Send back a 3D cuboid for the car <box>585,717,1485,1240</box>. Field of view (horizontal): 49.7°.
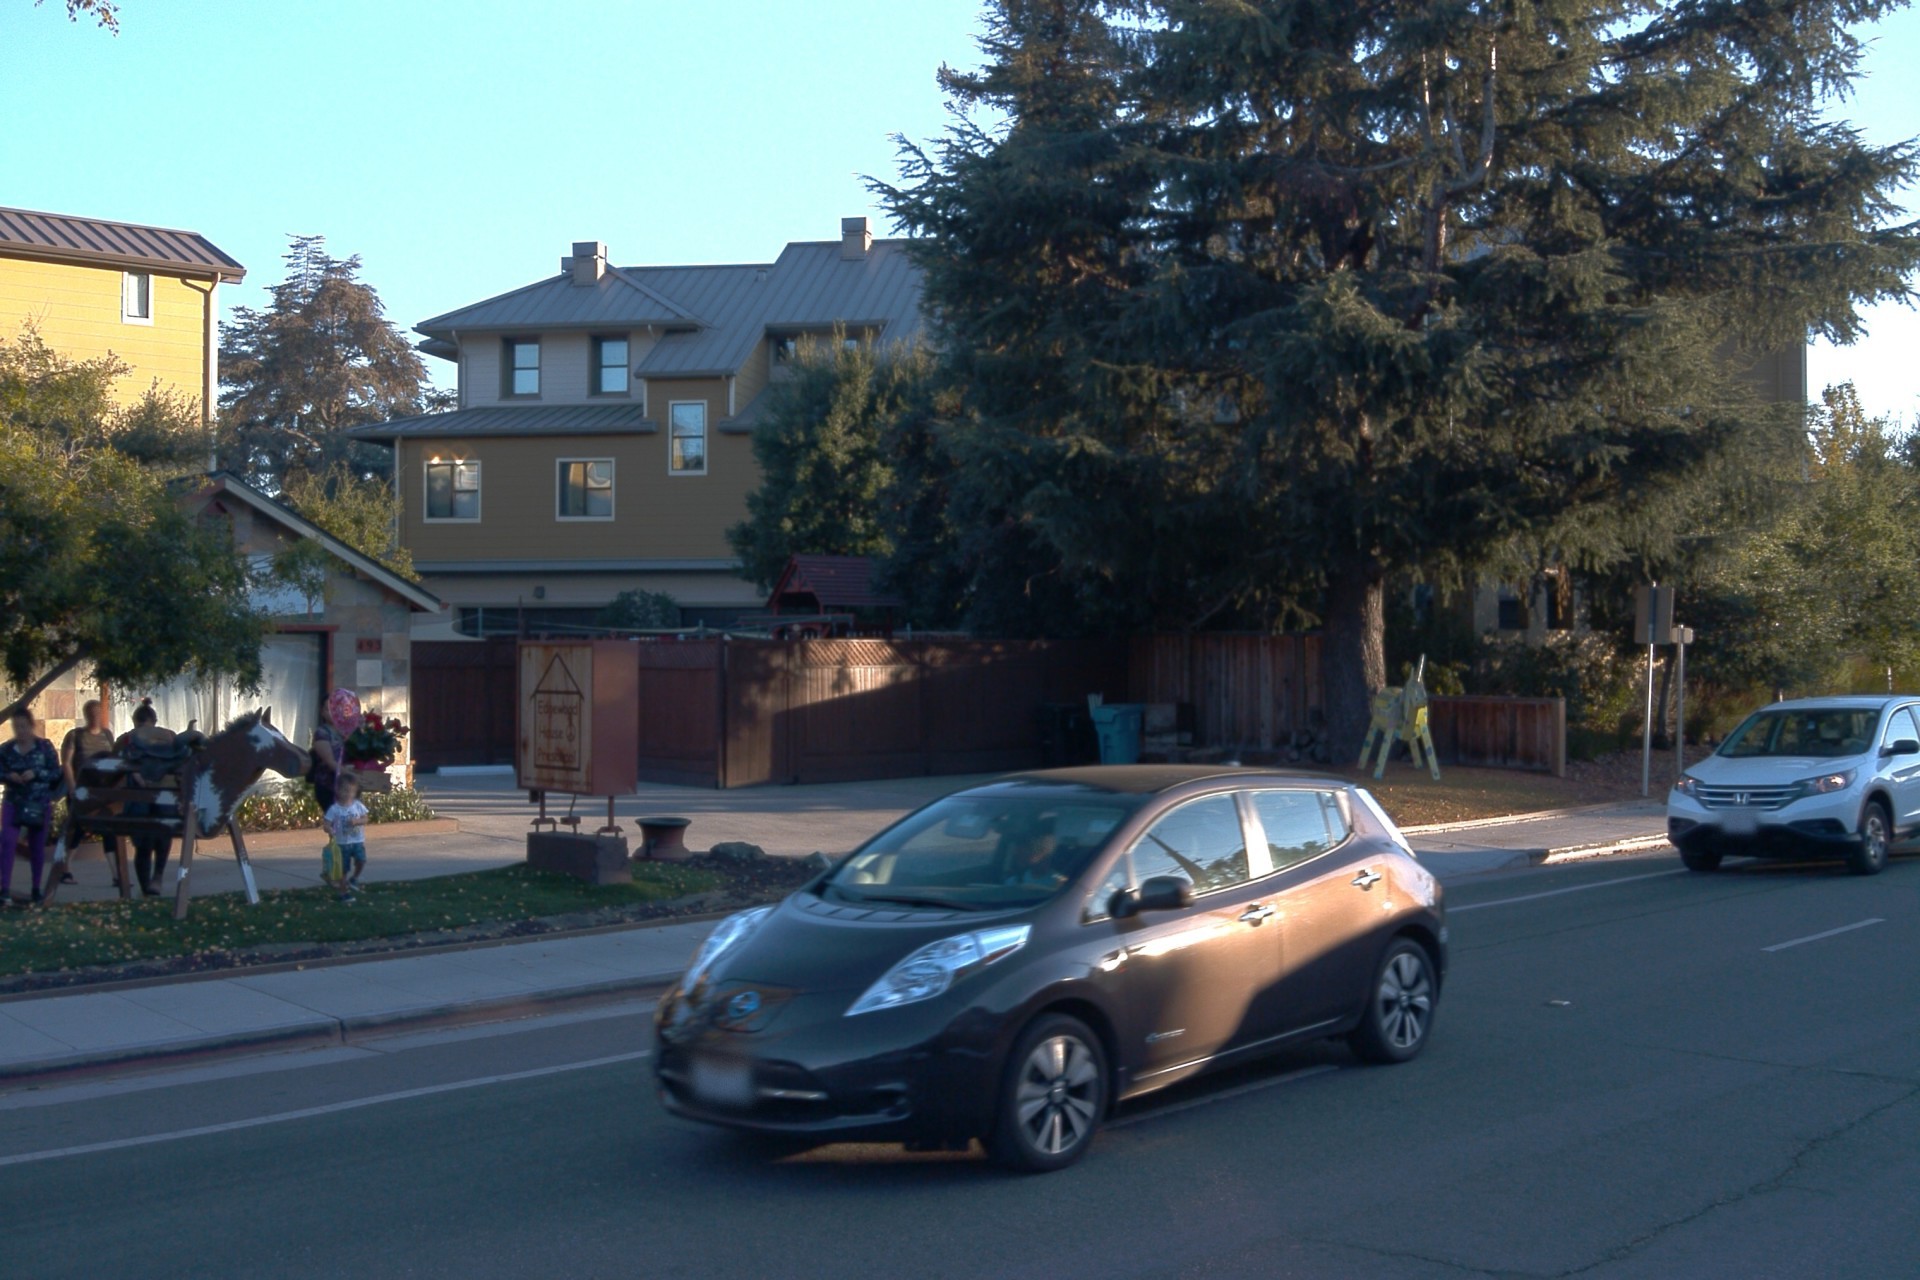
[{"bbox_3d":[0.560,1.321,9.832,1.975,1.720,4.283,0,0,42],"label":"car"}]

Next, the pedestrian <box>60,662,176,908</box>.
[{"bbox_3d":[-6.740,1.132,16.632,0.803,1.900,0.785,0,0,-18],"label":"pedestrian"}]

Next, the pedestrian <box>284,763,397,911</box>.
[{"bbox_3d":[-4.607,1.447,15.398,0.628,1.010,0.632,0,0,-36],"label":"pedestrian"}]

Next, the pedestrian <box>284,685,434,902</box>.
[{"bbox_3d":[-4.795,1.191,16.519,0.992,1.630,0.736,0,0,43],"label":"pedestrian"}]
